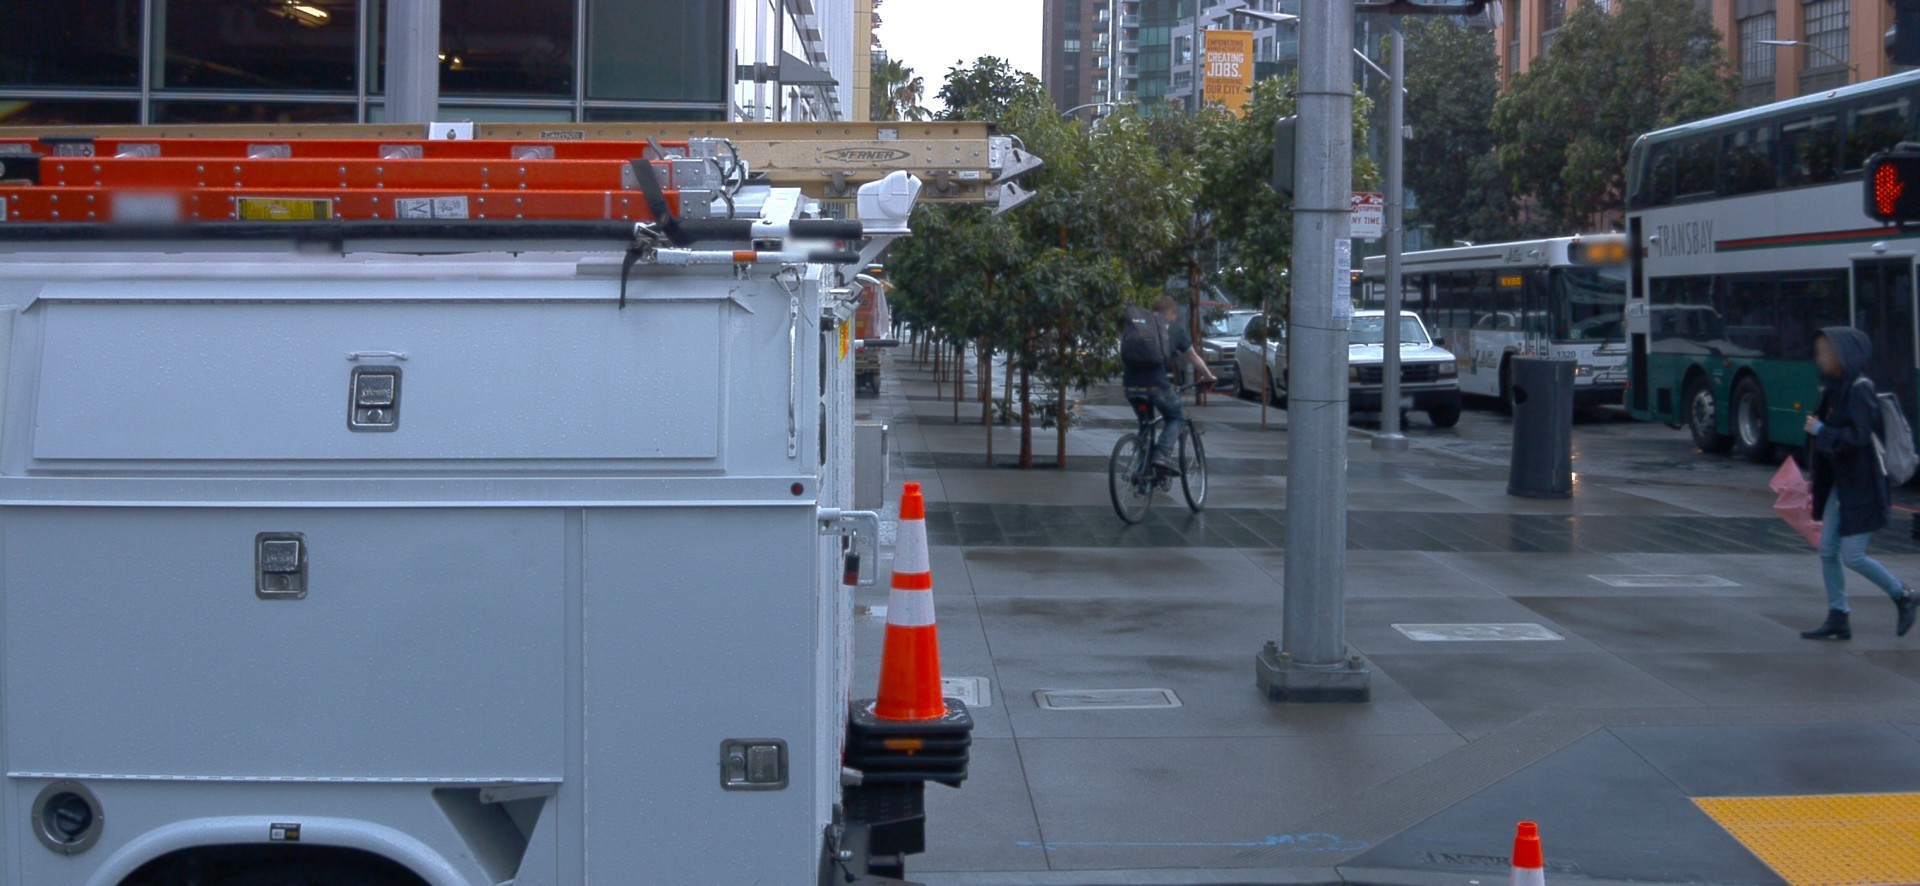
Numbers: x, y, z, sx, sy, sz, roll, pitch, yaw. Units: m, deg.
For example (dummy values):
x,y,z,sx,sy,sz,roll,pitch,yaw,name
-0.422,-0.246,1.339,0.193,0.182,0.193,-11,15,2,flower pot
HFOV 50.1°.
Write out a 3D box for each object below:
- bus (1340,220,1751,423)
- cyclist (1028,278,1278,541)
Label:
x,y,z,sx,sy,sz,roll,pitch,yaw,name
9.881,-2.452,36.855,3.258,2.996,12.707,0,6,-2,bus
1.468,-0.322,15.226,1.209,1.741,2.032,1,4,26,cyclist
